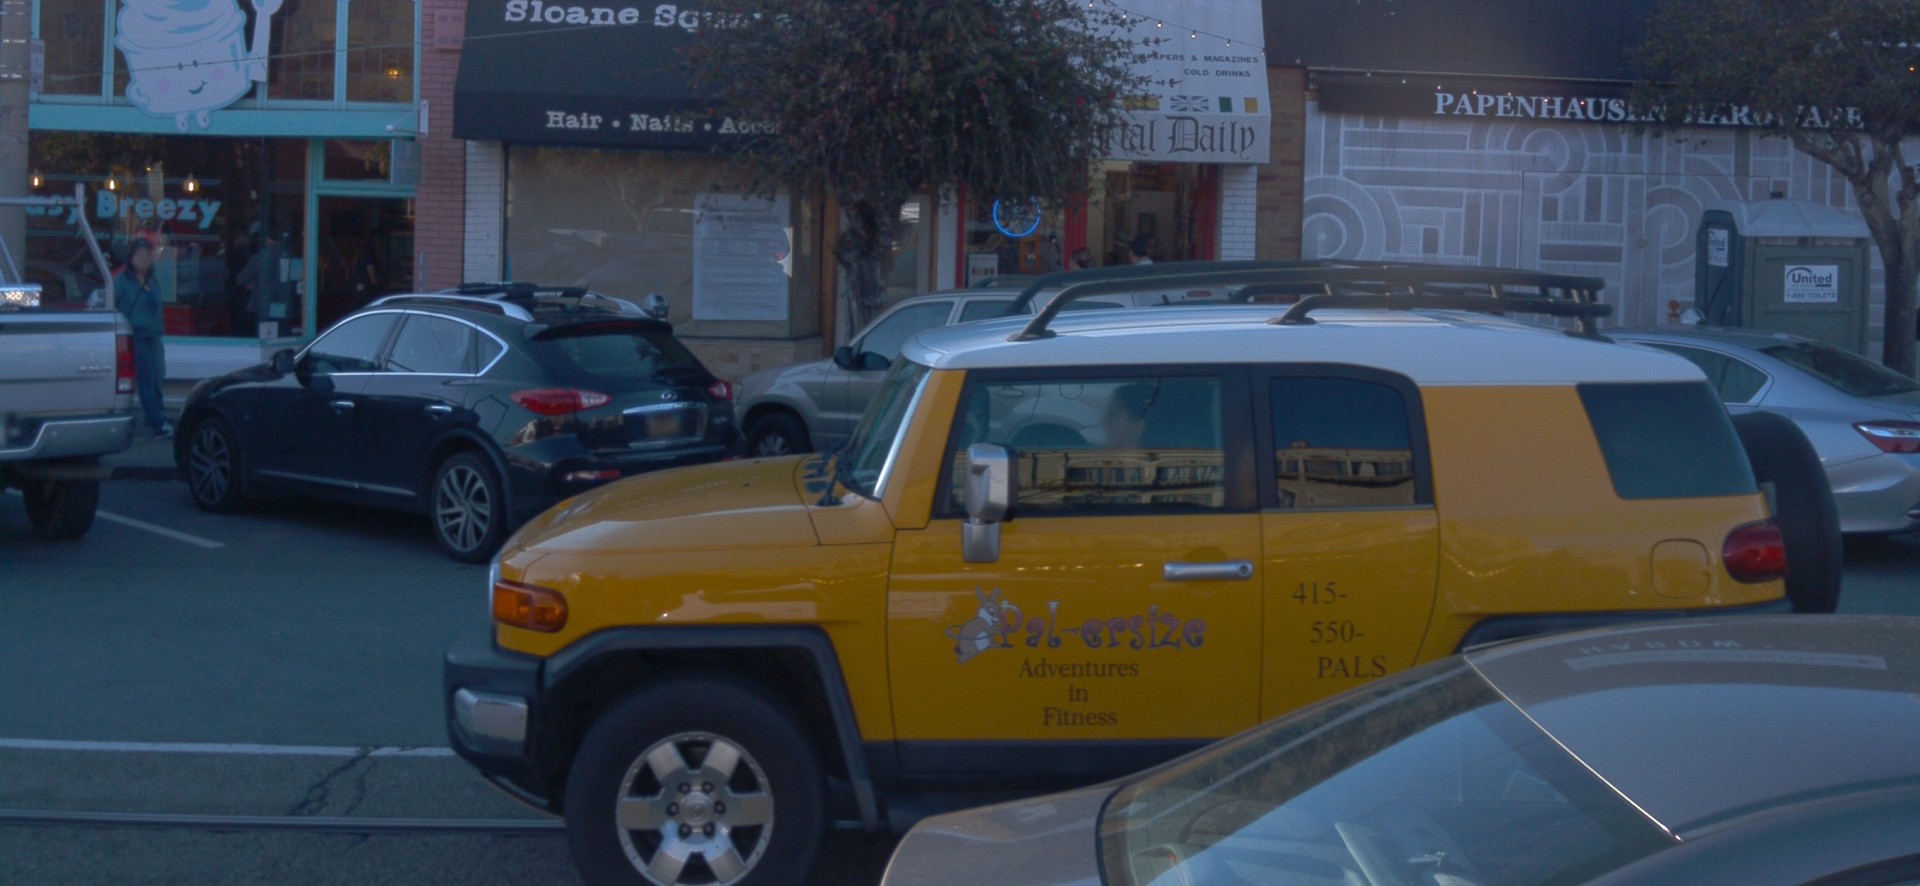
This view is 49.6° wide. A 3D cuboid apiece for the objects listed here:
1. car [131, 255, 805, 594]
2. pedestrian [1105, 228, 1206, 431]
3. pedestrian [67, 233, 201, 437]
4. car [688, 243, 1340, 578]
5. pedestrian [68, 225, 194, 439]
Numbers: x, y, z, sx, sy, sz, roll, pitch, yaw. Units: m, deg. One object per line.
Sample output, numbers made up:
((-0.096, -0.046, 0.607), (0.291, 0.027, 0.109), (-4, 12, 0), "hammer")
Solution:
((-3.435, -0.305, 14.053), (4.523, 1.793, 2.116), (6, 6, 39), "car")
((1.804, -1.072, 19.281), (0.733, 1.816, 0.920), (1, 2, -7), "pedestrian")
((-7.271, -0.976, 18.311), (0.799, 1.726, 0.924), (1, 2, 0), "pedestrian")
((0.274, -0.402, 14.595), (4.242, 1.893, 2.078), (6, 6, 42), "car")
((-7.024, -0.966, 17.621), (0.725, 1.757, 0.809), (1, 2, -1), "pedestrian")
